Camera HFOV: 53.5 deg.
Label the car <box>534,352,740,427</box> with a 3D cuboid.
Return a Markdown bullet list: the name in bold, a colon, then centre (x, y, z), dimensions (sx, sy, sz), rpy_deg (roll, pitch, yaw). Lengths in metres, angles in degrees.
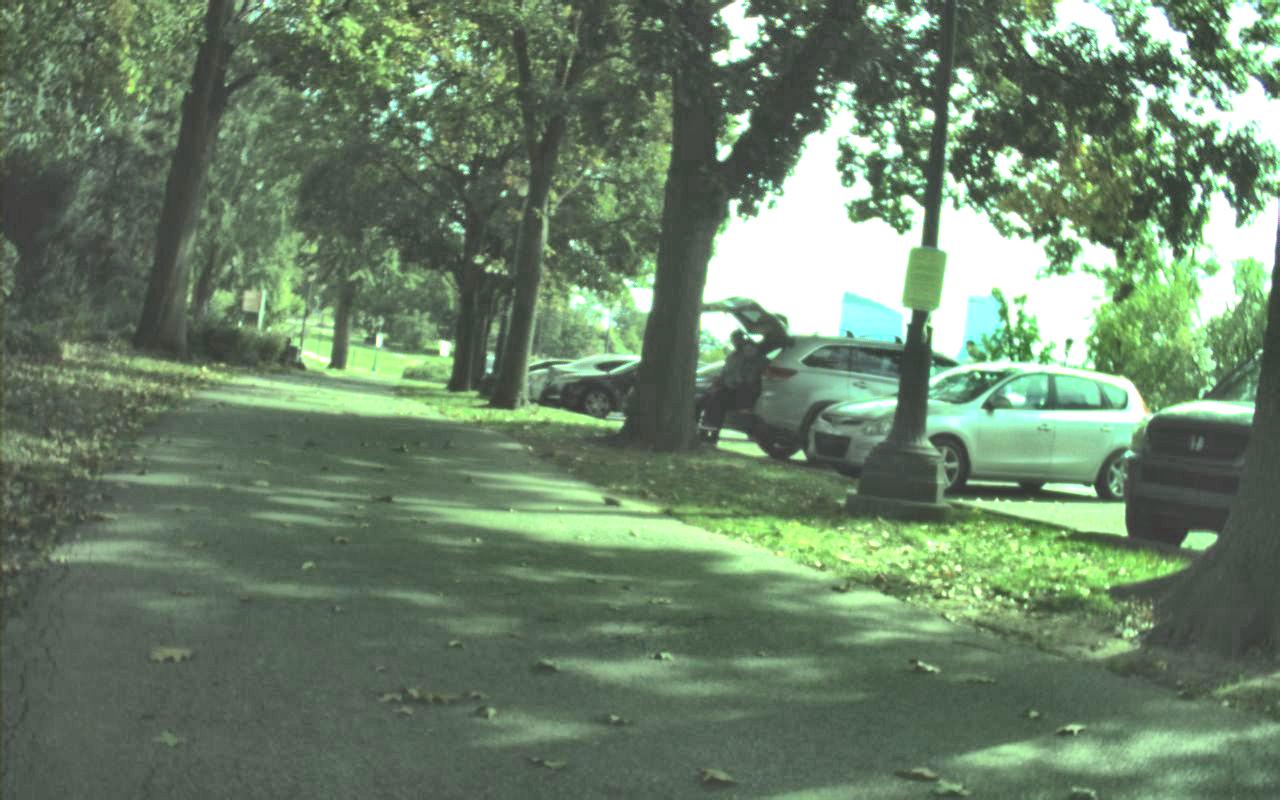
- **car**: centre (-0.109, -0.252, 29.964), dimensions (4.563, 1.701, 1.967), rpy_deg (0, 1, -12)

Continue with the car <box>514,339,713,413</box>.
- **car**: centre (-0.665, -0.577, 30.369), dimensions (4.420, 1.680, 1.957), rpy_deg (0, 1, -18)

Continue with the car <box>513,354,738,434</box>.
- **car**: centre (-0.340, -0.142, 27.185), dimensions (4.465, 1.616, 1.973), rpy_deg (0, 1, -16)

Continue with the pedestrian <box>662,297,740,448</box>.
- **pedestrian**: centre (0.771, -0.352, 16.351), dimensions (0.963, 1.880, 0.895), rpy_deg (0, 0, 0)

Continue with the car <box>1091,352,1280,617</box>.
- **car**: centre (5.743, 0.521, 8.601), dimensions (4.490, 1.644, 1.973), rpy_deg (0, 1, -21)

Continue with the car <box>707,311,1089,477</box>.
- **car**: centre (3.443, -0.089, 16.556), dimensions (4.755, 1.961, 2.058), rpy_deg (0, 1, -13)

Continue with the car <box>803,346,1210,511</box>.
- **car**: centre (4.272, 0.259, 13.893), dimensions (4.514, 1.621, 1.939), rpy_deg (0, 1, -19)
